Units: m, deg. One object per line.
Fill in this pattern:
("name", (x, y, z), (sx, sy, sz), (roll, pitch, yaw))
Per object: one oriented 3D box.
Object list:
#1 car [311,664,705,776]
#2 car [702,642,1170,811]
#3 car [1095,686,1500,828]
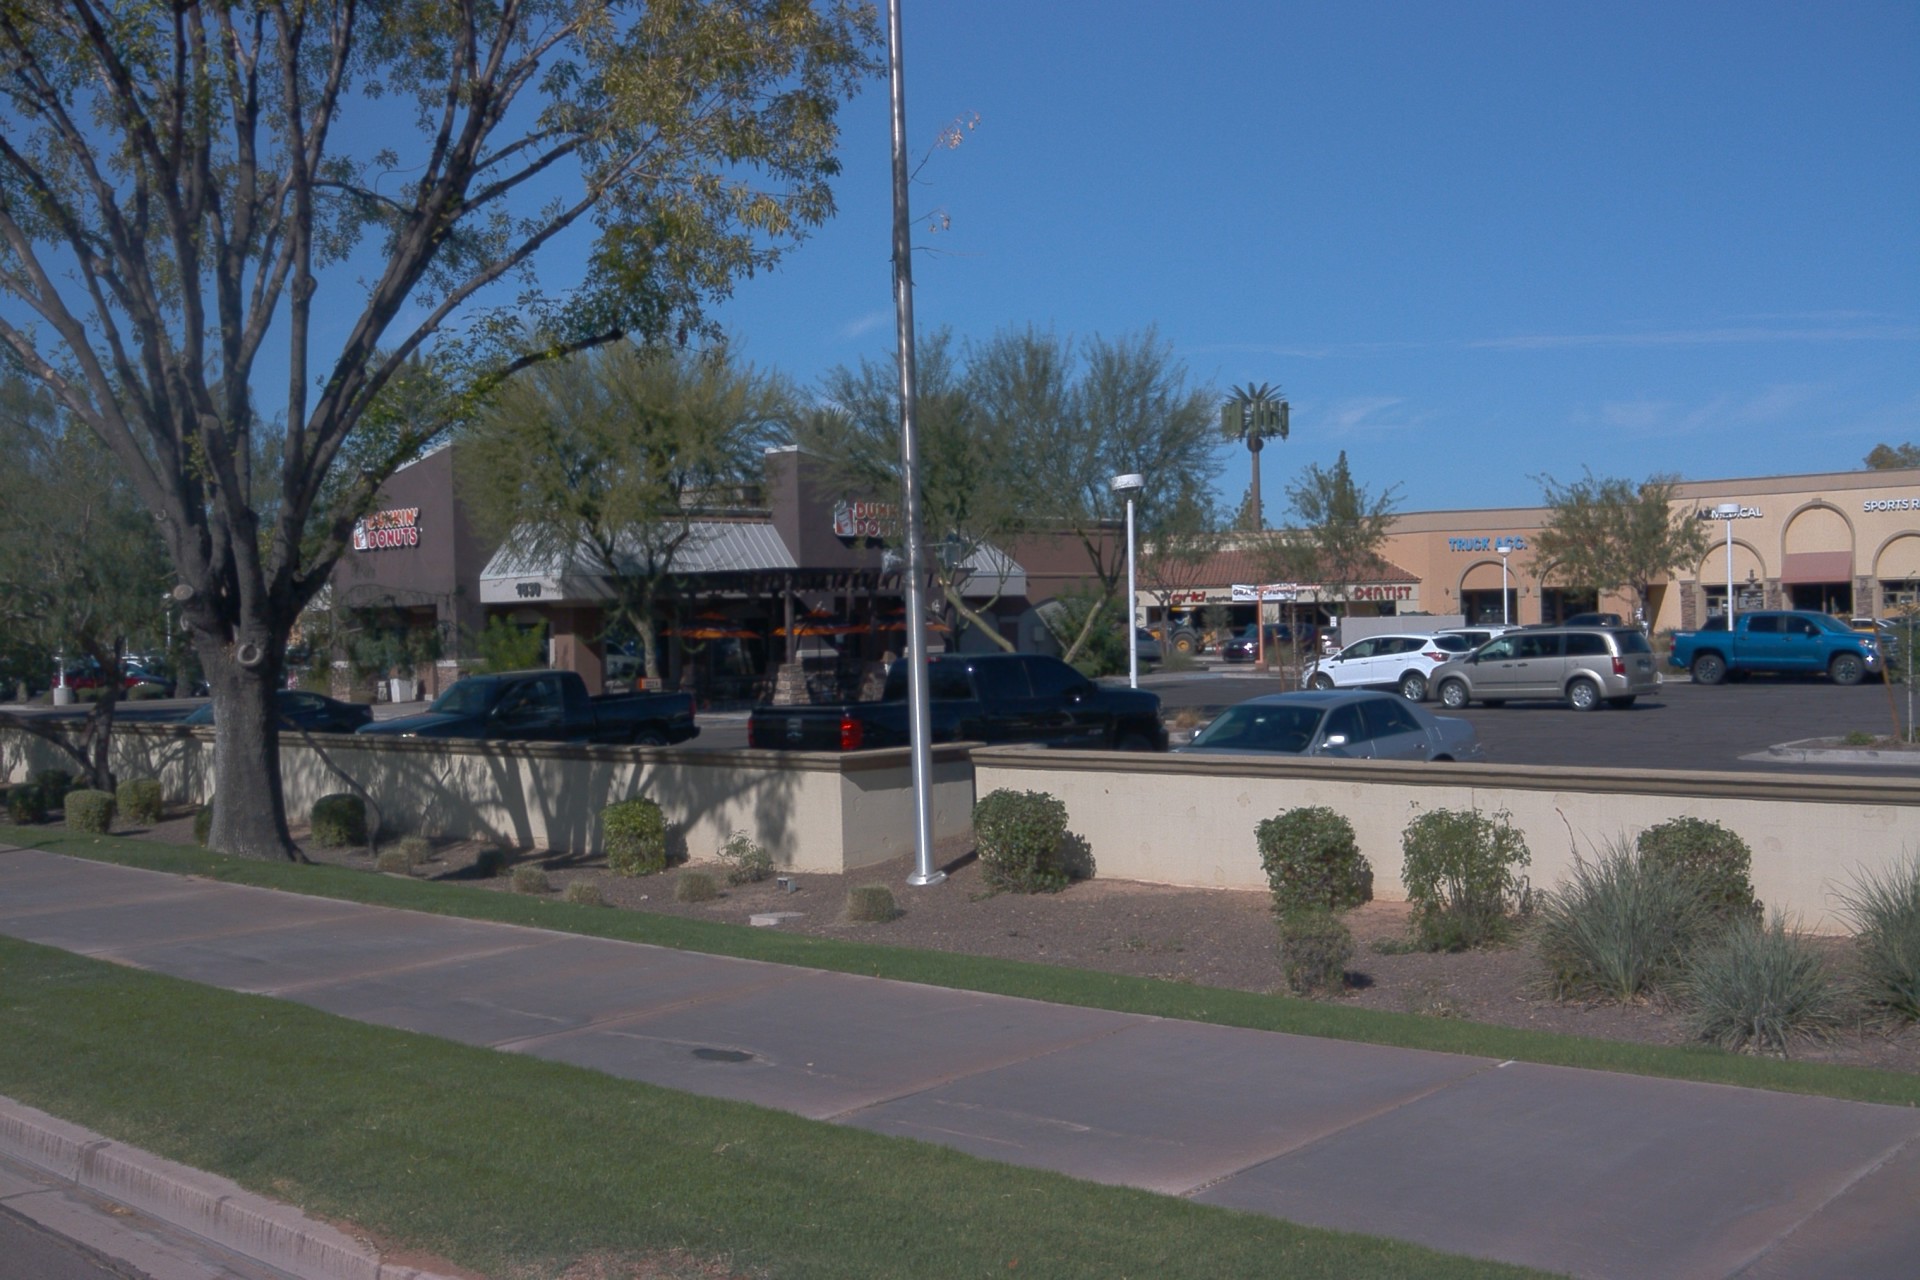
("car", (-7.293, 1.256, 34.076), (5.827, 1.670, 2.538), (1, -1, -44))
("car", (-0.170, 1.019, 26.150), (2.506, 1.890, 5.775), (0, -1, 45))
("car", (3.830, 1.219, 23.085), (2.197, 1.390, 4.532), (-1, -1, 45))
